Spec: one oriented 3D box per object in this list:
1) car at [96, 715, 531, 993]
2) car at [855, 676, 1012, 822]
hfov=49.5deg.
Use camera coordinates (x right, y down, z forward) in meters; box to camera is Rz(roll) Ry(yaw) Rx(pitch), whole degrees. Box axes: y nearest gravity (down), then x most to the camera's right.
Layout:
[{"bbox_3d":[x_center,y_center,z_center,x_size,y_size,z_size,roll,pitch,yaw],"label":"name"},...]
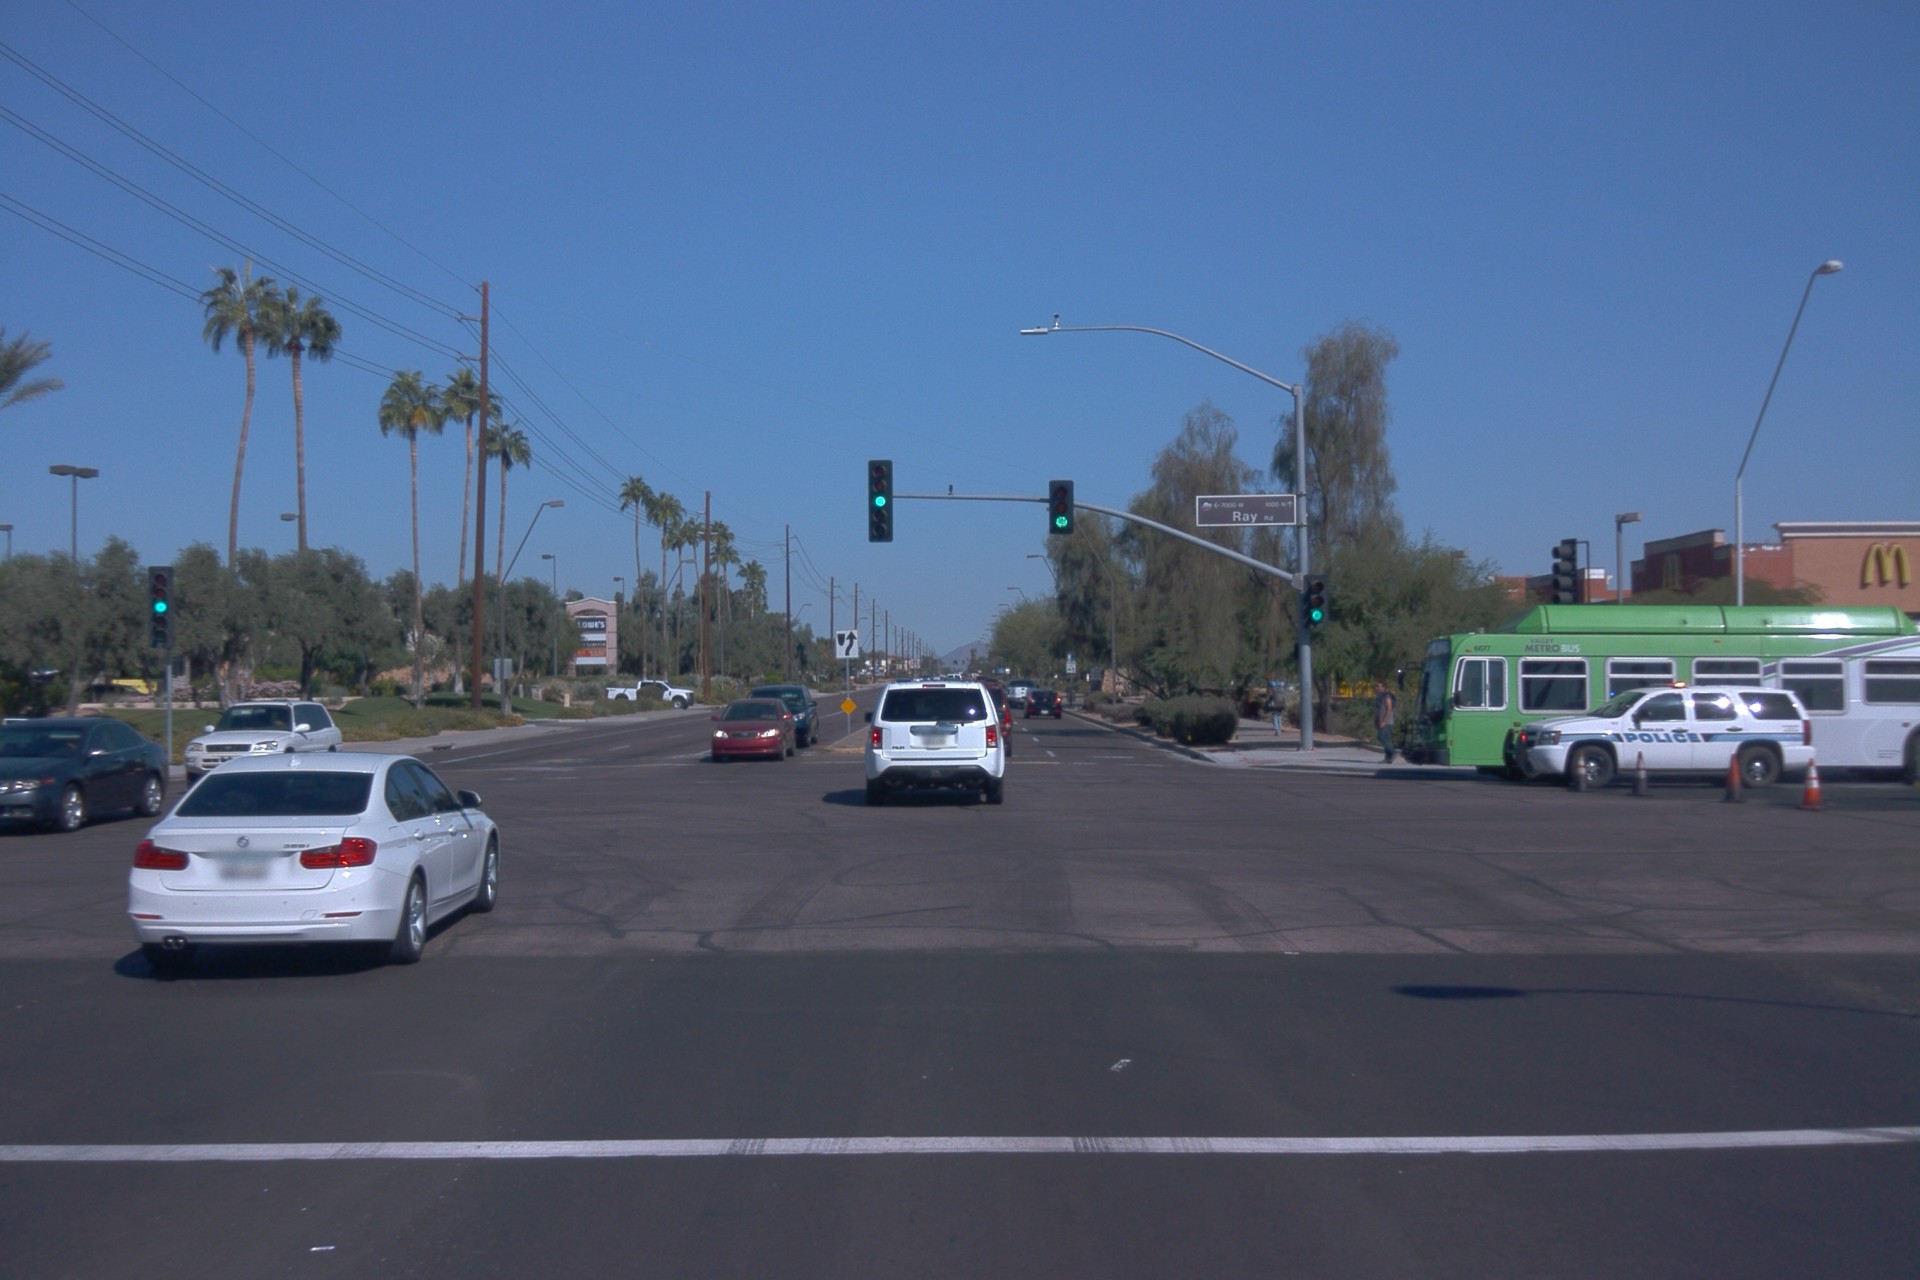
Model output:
[{"bbox_3d":[-4.655,1.467,15.786,1.933,1.660,4.696,1,0,-2],"label":"car"},{"bbox_3d":[-0.363,1.554,31.233,2.164,1.960,4.678,1,0,0],"label":"car"}]
